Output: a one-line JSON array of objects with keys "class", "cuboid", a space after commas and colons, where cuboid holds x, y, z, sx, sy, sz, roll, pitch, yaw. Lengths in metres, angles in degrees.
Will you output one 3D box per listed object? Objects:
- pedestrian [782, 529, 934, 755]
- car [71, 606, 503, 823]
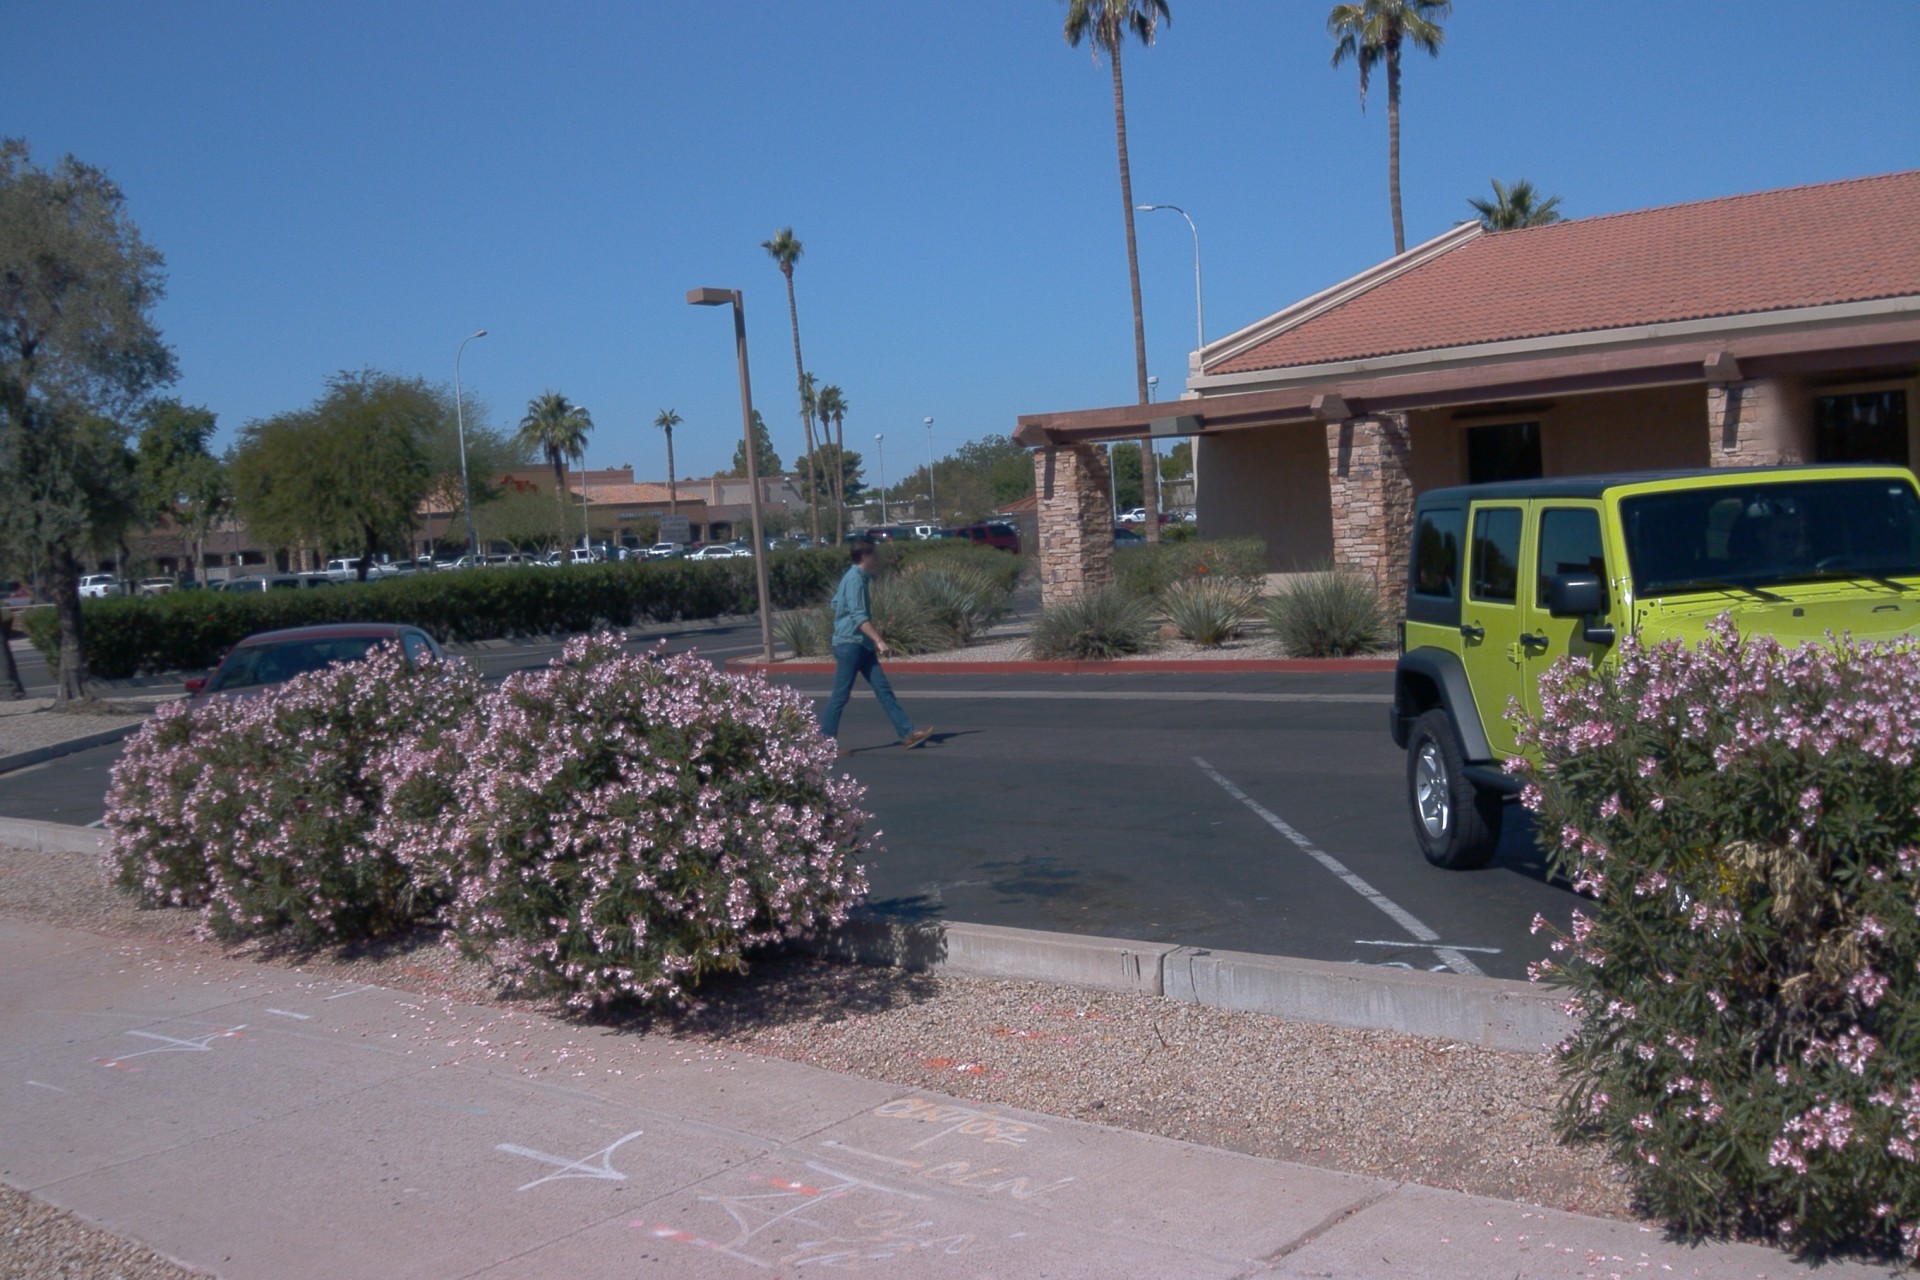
[{"class": "pedestrian", "cuboid": [-0.829, 0.026, 17.263, 1.174, 1.800, 0.973, -1, -1, 1]}, {"class": "car", "cuboid": [-5.084, 0.544, 16.513, 2.093, 1.442, 4.764, -1, -1, -3]}]
